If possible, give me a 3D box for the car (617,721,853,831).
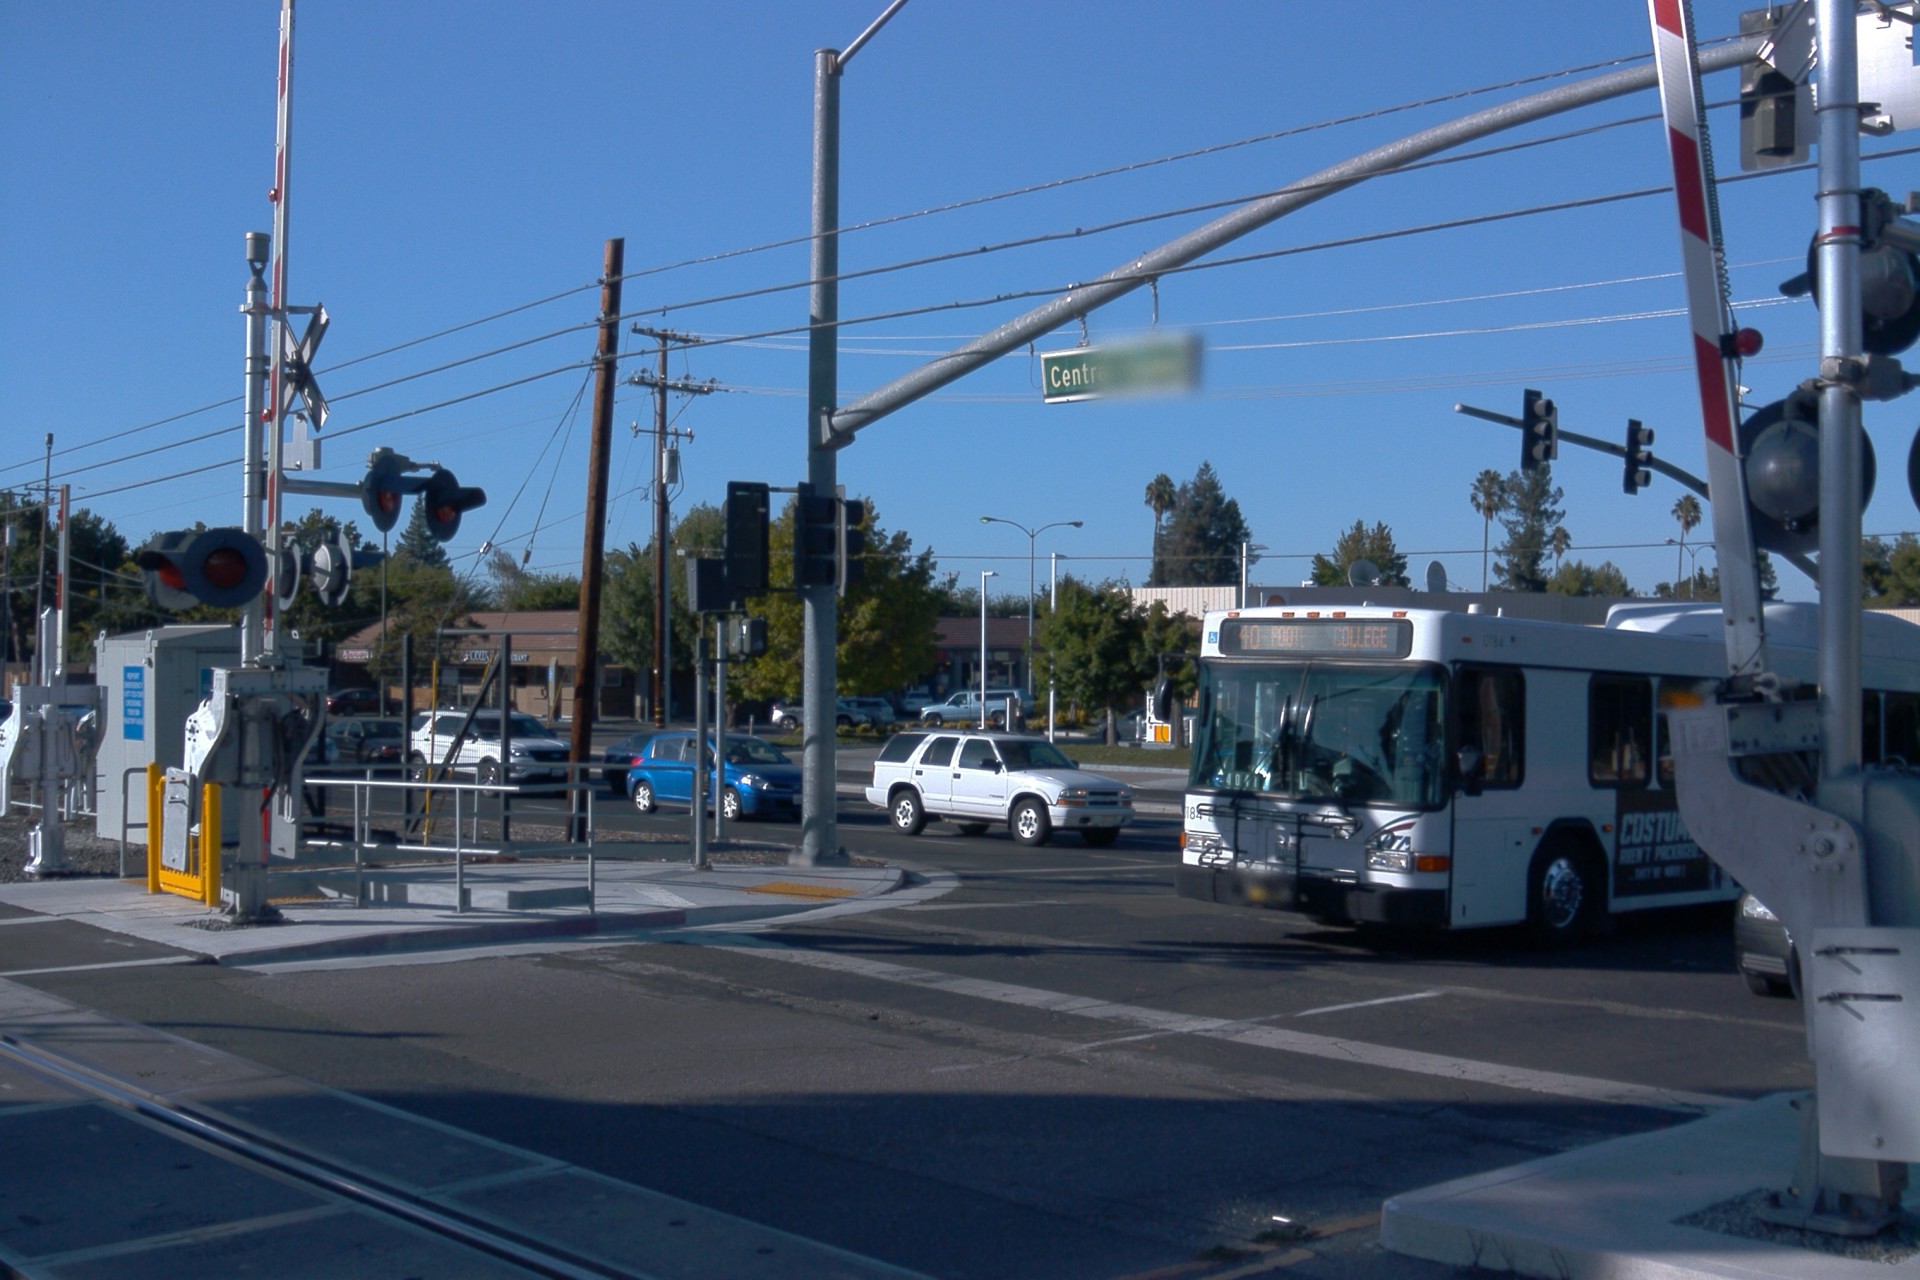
[{"bbox_3d":[-4.066,2.368,37.101,2.086,1.670,4.292,1,-1,-42],"label":"car"}]

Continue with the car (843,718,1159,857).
[{"bbox_3d":[0.558,2.210,32.260,2.110,1.830,4.847,1,-1,-43],"label":"car"}]
